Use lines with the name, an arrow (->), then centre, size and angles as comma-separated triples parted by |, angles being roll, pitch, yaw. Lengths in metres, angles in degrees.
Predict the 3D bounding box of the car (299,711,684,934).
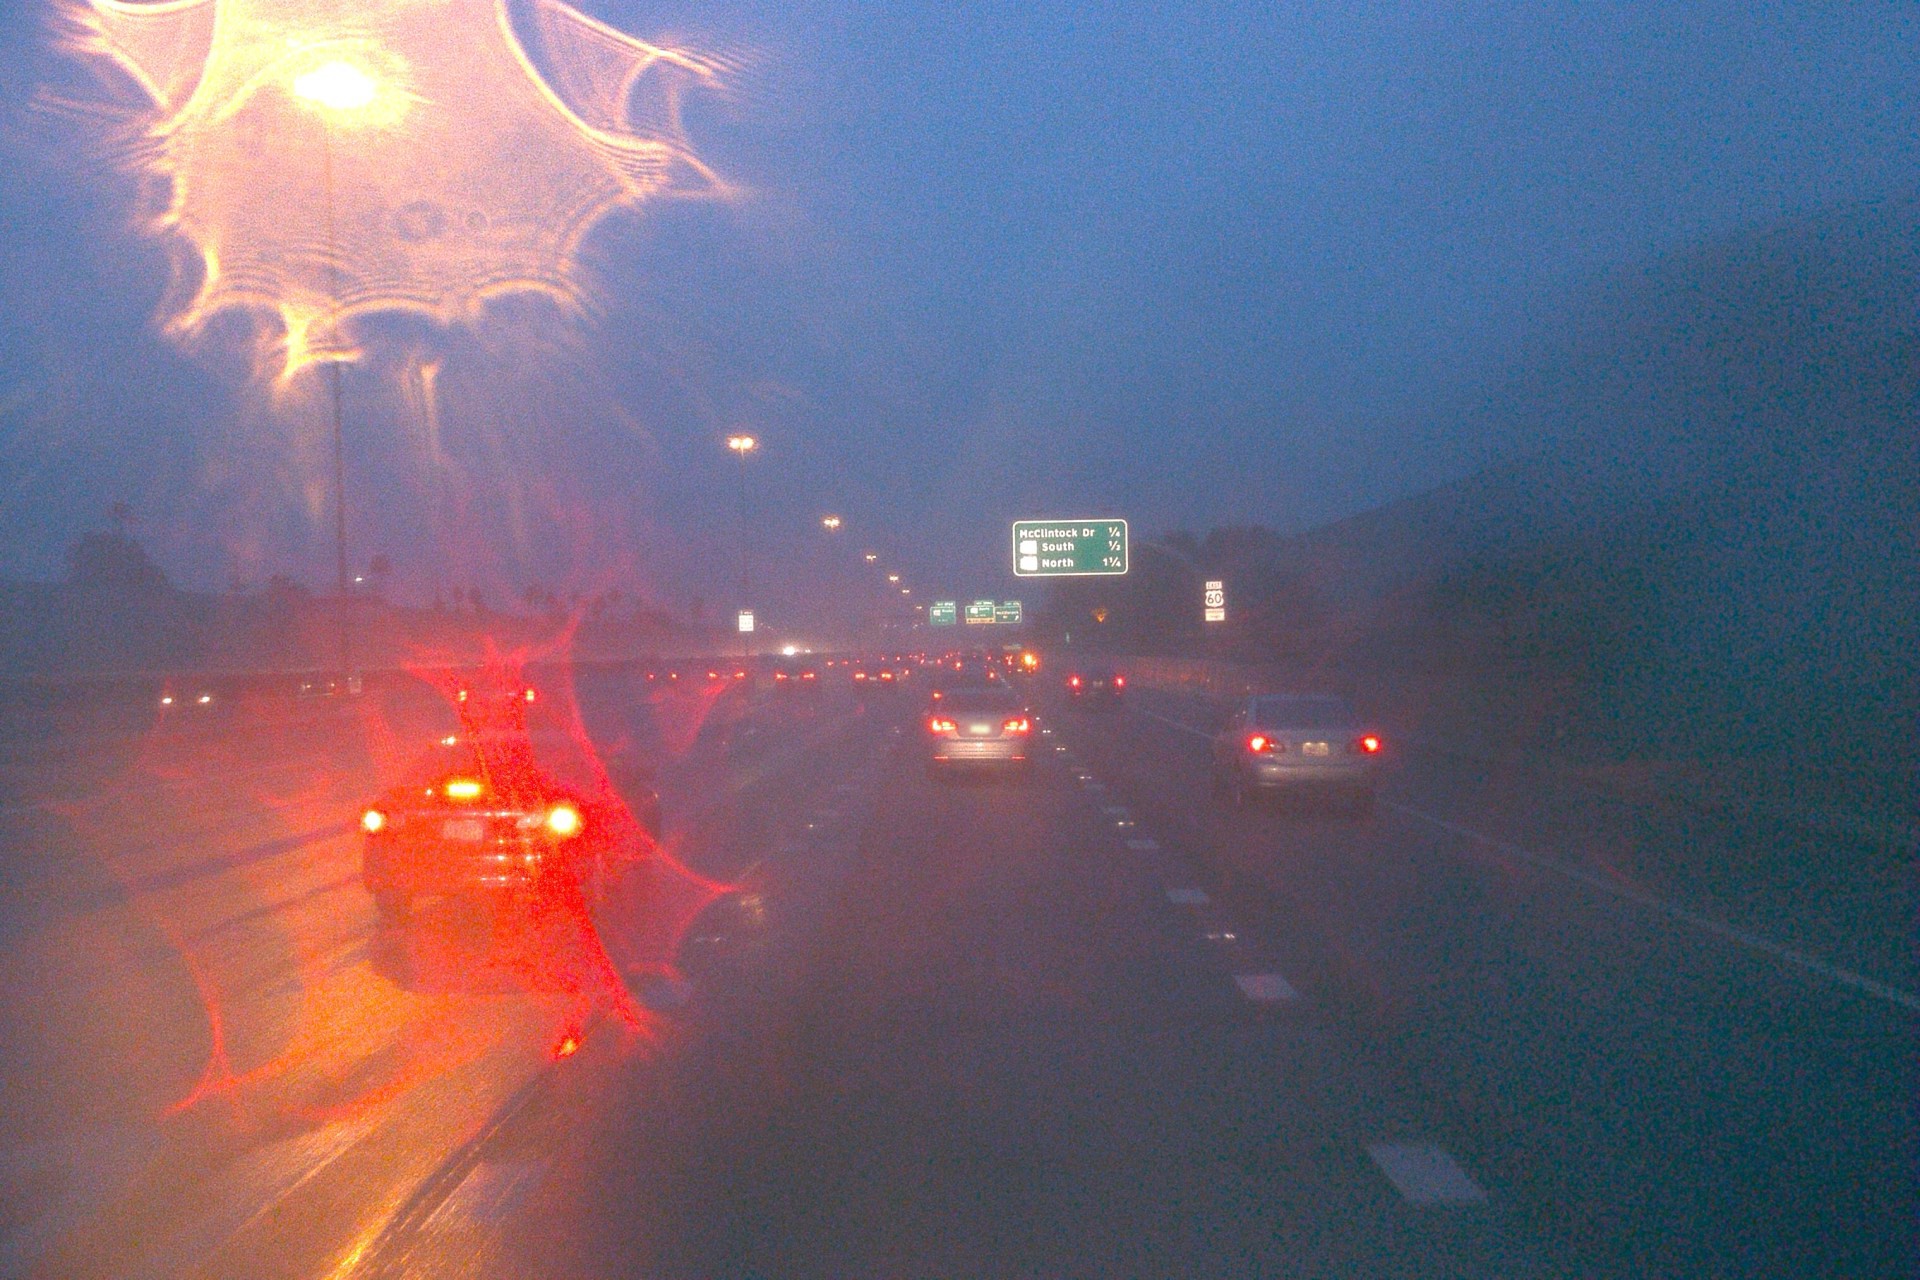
car -> -3.727, 1.413, 17.454 | 2.168, 1.490, 4.575 | 0, 0, 1

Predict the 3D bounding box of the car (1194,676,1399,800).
car -> 4.313, 1.221, 27.296 | 2.013, 1.440, 4.411 | 0, 0, 1

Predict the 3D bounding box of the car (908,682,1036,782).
car -> 0.213, 1.452, 33.963 | 1.966, 1.470, 4.133 | 0, 0, 1
